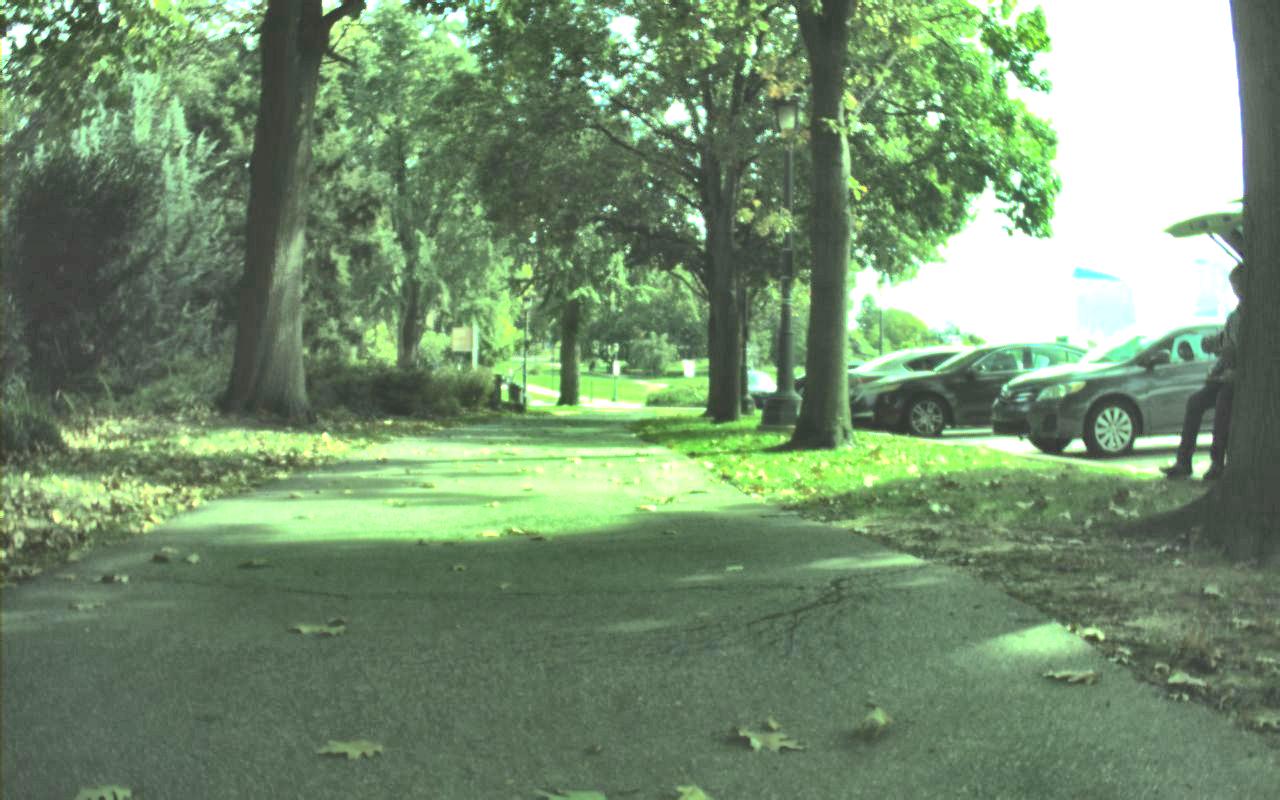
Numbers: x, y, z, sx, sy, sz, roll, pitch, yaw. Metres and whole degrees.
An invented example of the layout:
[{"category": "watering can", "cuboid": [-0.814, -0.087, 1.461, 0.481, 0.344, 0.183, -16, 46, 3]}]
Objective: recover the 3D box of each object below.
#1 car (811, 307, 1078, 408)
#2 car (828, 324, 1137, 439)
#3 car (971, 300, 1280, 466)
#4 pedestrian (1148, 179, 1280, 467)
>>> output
[{"category": "car", "cuboid": [5.426, -0.712, 22.133, 4.471, 1.670, 1.958, 0, 1, -7]}, {"category": "car", "cuboid": [5.223, -0.271, 18.816, 4.456, 1.616, 1.977, 0, 1, -4]}, {"category": "car", "cuboid": [5.971, -0.169, 13.024, 4.400, 1.605, 1.955, 0, 1, -7]}, {"category": "pedestrian", "cuboid": [4.037, -0.494, 7.967, 0.961, 1.880, 0.896, 1, 0, 12]}]
